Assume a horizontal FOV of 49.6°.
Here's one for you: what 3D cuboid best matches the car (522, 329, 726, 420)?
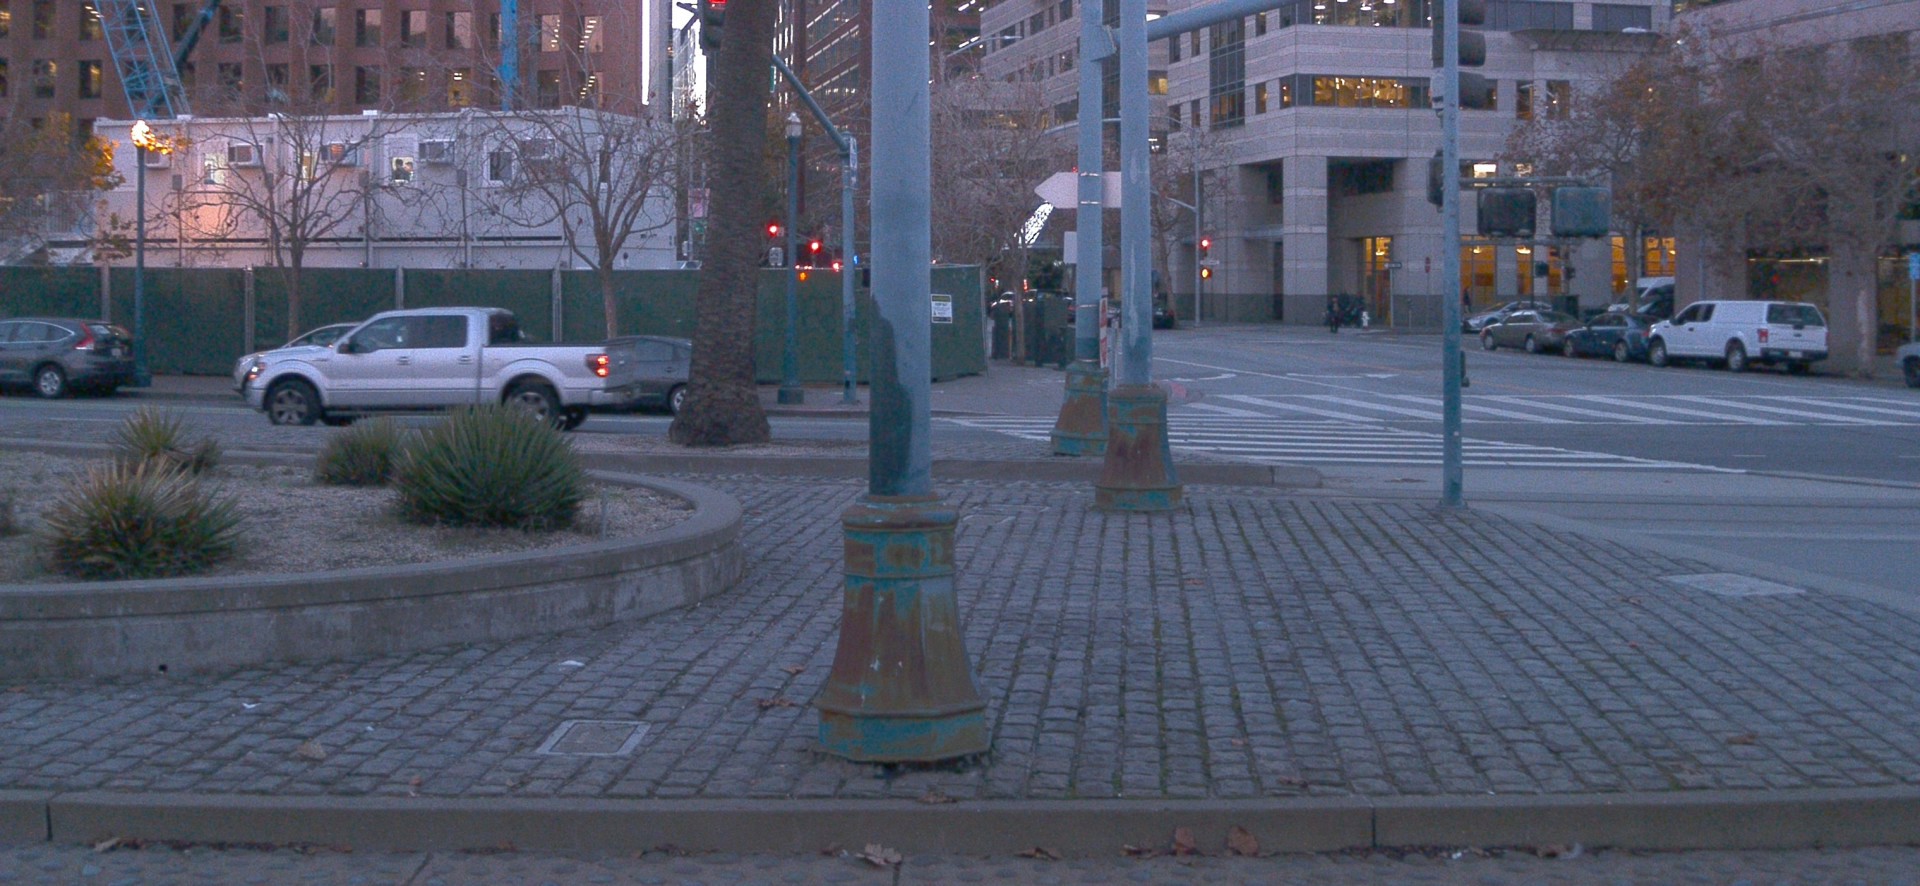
[{"bbox_3d":[-6.208,-1.293,38.464,3.390,1.486,1.558,2,4,17],"label":"car"}]

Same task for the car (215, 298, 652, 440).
[{"bbox_3d":[-7.956,-1.186,31.763,5.982,1.904,2.525,1,4,5],"label":"car"}]
